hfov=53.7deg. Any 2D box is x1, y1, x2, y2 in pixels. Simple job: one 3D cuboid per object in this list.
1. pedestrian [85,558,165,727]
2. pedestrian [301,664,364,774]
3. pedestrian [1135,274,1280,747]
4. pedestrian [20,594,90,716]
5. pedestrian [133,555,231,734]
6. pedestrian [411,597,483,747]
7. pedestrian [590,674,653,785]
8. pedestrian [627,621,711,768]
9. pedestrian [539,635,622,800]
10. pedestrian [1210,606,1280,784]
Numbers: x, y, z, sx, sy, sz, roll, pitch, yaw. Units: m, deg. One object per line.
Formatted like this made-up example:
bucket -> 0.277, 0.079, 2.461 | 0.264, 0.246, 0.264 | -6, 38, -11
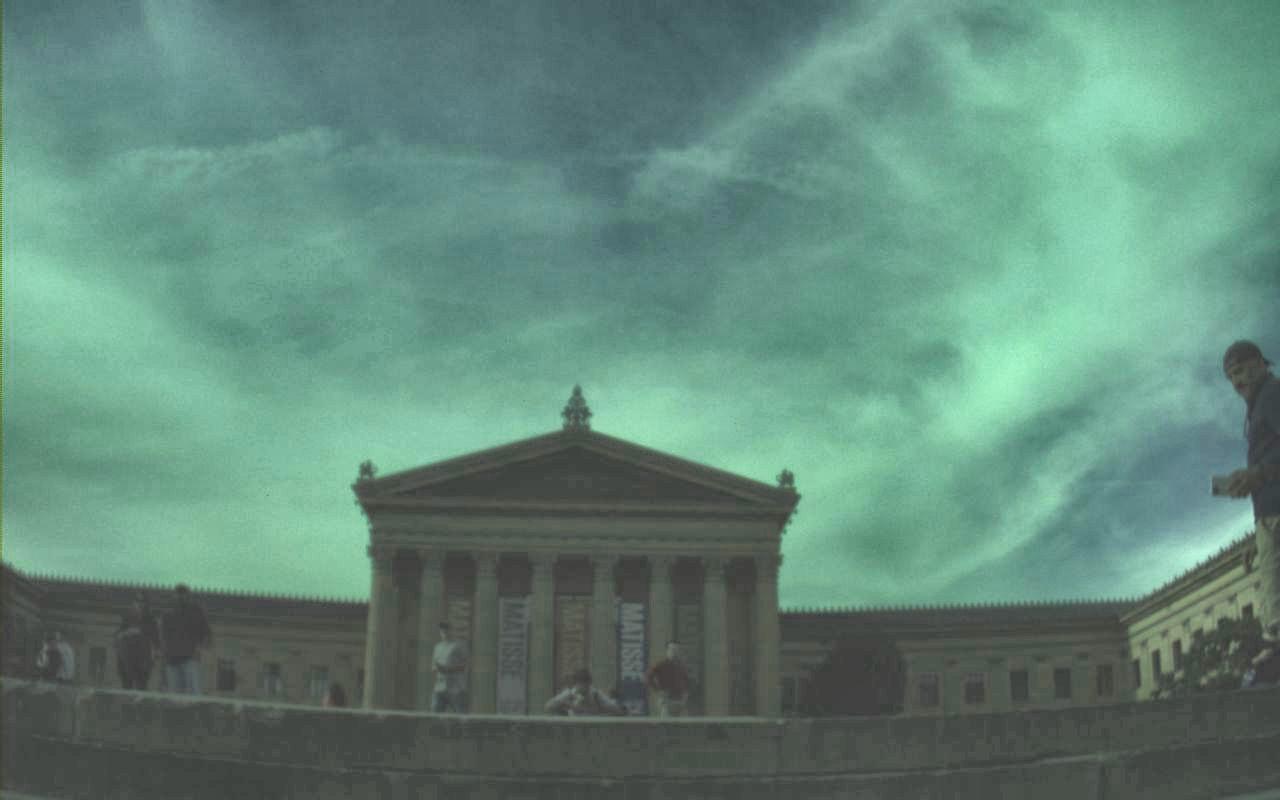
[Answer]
pedestrian -> -5.663, 2.686, 12.515 | 0.739, 1.760, 0.731 | 0, 0, -18
pedestrian -> -5.363, 5.577, 20.656 | 0.799, 1.750, 0.764 | 0, 0, -38
pedestrian -> 2.520, 0.435, 4.556 | 0.833, 1.777, 0.803 | 0, 0, 8
pedestrian -> -9.358, 4.111, 17.657 | 0.776, 1.796, 0.782 | 1, 0, 36
pedestrian -> -4.952, 2.649, 12.533 | 0.775, 1.795, 0.759 | 0, 0, 1
pedestrian -> -2.488, 3.528, 15.789 | 0.759, 1.840, 0.734 | 0, 0, 3
pedestrian -> -0.335, 5.739, 21.214 | 0.749, 1.745, 0.780 | 1, 0, 44
pedestrian -> 0.384, 3.981, 16.633 | 0.800, 1.822, 0.786 | 0, 0, -38
pedestrian -> -0.628, 3.408, 13.025 | 0.811, 1.673, 0.771 | 0, 0, 2
pedestrian -> 6.380, 3.087, 11.332 | 0.774, 1.720, 0.804 | 1, 0, 17
